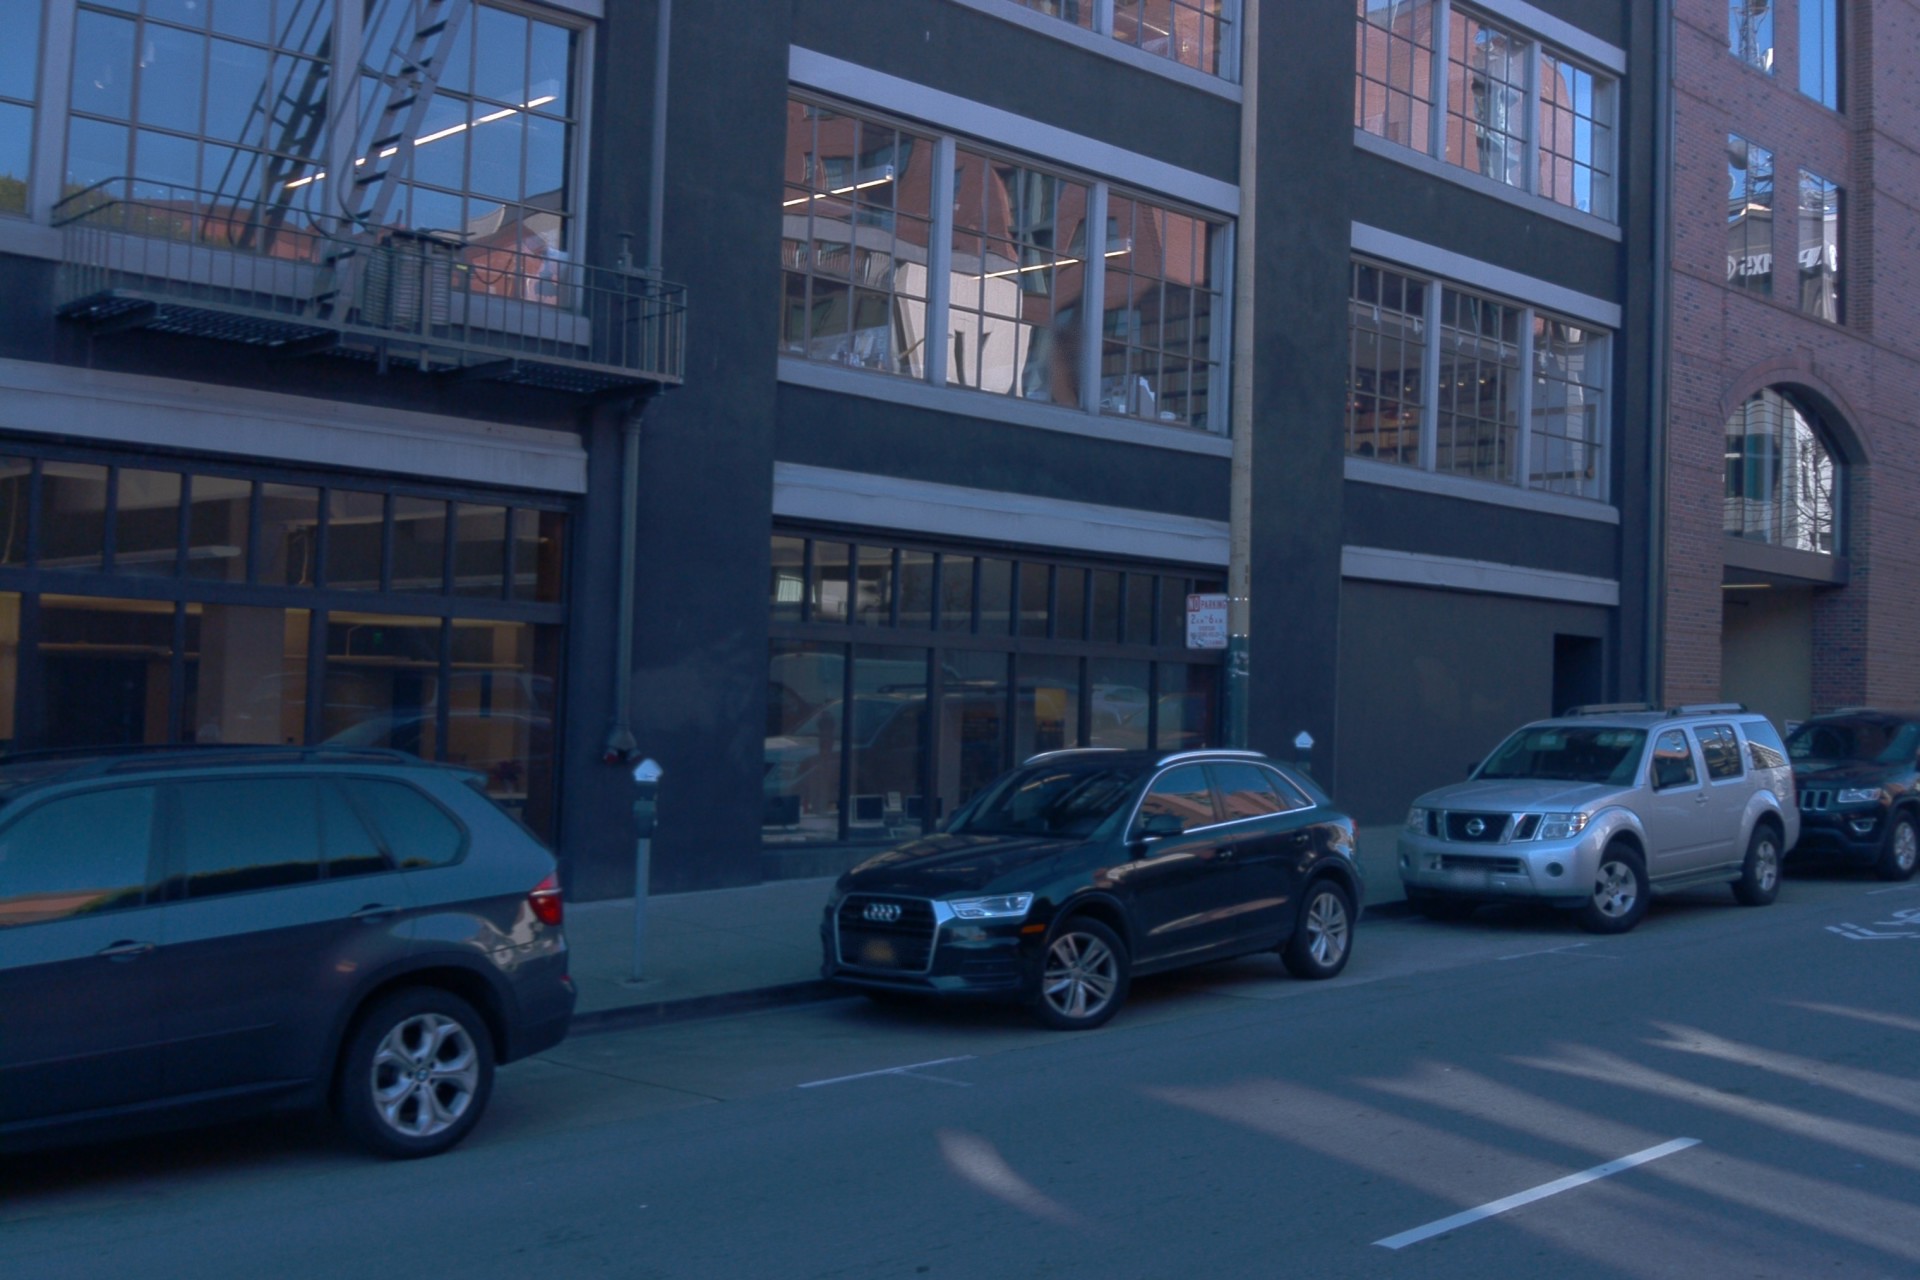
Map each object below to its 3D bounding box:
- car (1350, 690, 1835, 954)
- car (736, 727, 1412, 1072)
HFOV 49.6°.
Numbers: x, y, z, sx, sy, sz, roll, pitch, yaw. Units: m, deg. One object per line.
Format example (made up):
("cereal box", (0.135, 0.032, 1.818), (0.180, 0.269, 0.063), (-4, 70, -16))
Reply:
("car", (5.763, 1.459, 18.488), (2.111, 1.990, 4.978), (0, -1, 44))
("car", (0.924, 1.506, 13.654), (2.055, 1.740, 4.550), (0, -1, 41))
